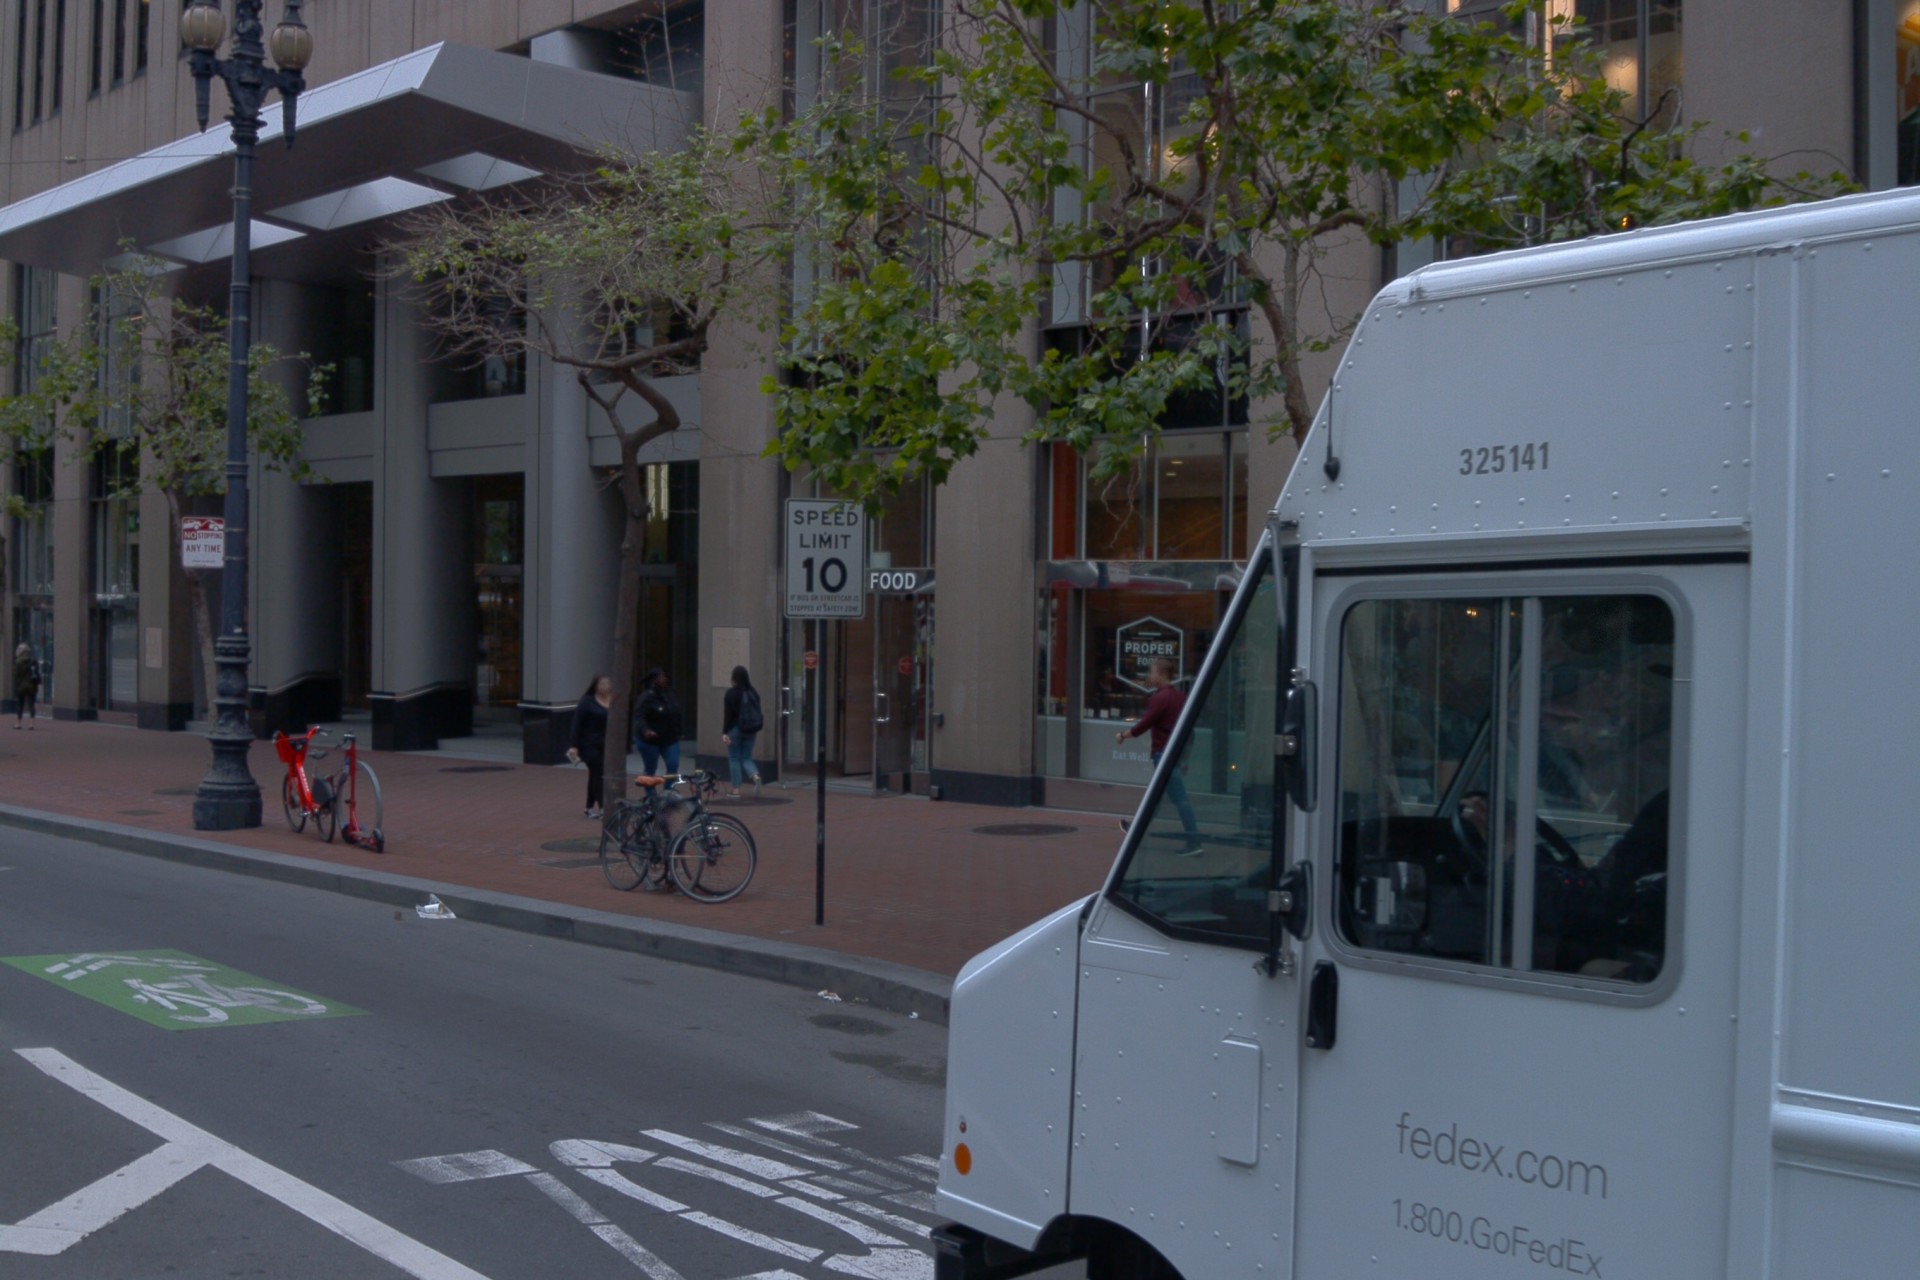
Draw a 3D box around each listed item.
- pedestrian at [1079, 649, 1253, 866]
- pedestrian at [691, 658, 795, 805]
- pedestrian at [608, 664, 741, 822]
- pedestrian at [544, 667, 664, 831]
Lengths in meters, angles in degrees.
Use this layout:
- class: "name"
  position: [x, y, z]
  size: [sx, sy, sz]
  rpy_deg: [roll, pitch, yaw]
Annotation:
- class: "pedestrian"
  position: [1.891, 1.042, 18.857]
  size: [1.272, 1.910, 0.944]
  rpy_deg: [0, 0, 45]
- class: "pedestrian"
  position: [-2.624, 1.079, 24.727]
  size: [0.846, 1.710, 0.984]
  rpy_deg: [0, 0, -38]
- class: "pedestrian"
  position: [-3.228, 1.129, 23.127]
  size: [0.901, 1.700, 1.319]
  rpy_deg: [0, 0, -42]
- class: "pedestrian"
  position: [-3.889, 1.163, 22.375]
  size: [0.894, 1.710, 1.015]
  rpy_deg: [0, 0, -40]
